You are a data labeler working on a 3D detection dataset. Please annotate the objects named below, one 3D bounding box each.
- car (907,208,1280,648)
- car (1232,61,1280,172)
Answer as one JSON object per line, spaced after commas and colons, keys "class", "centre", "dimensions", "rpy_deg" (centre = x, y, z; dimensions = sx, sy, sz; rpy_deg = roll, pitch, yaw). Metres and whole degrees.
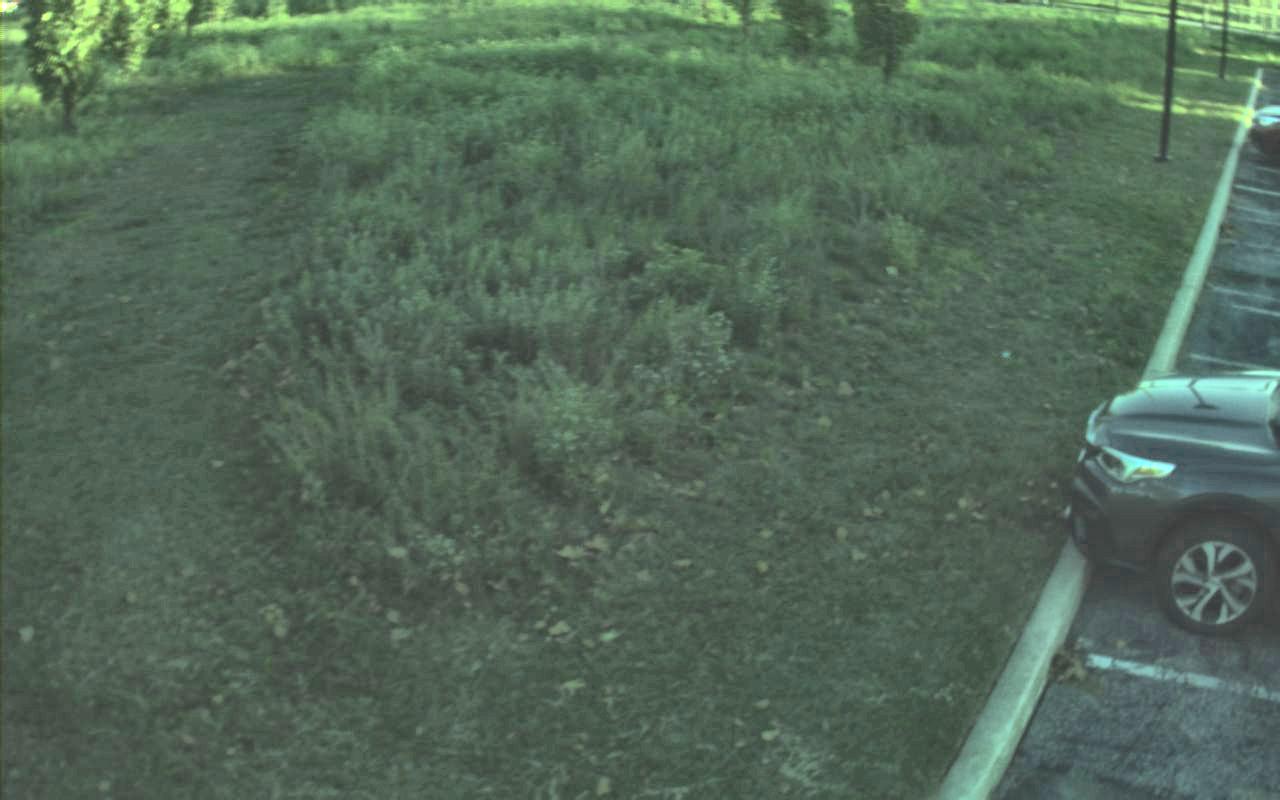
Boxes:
{"class": "car", "centre": [3.748, -0.154, 7.570], "dimensions": [4.455, 1.585, 1.942], "rpy_deg": [-16, 22, -42]}
{"class": "car", "centre": [13.491, -5.403, 20.630], "dimensions": [4.593, 1.630, 1.990], "rpy_deg": [7, 17, 25]}
